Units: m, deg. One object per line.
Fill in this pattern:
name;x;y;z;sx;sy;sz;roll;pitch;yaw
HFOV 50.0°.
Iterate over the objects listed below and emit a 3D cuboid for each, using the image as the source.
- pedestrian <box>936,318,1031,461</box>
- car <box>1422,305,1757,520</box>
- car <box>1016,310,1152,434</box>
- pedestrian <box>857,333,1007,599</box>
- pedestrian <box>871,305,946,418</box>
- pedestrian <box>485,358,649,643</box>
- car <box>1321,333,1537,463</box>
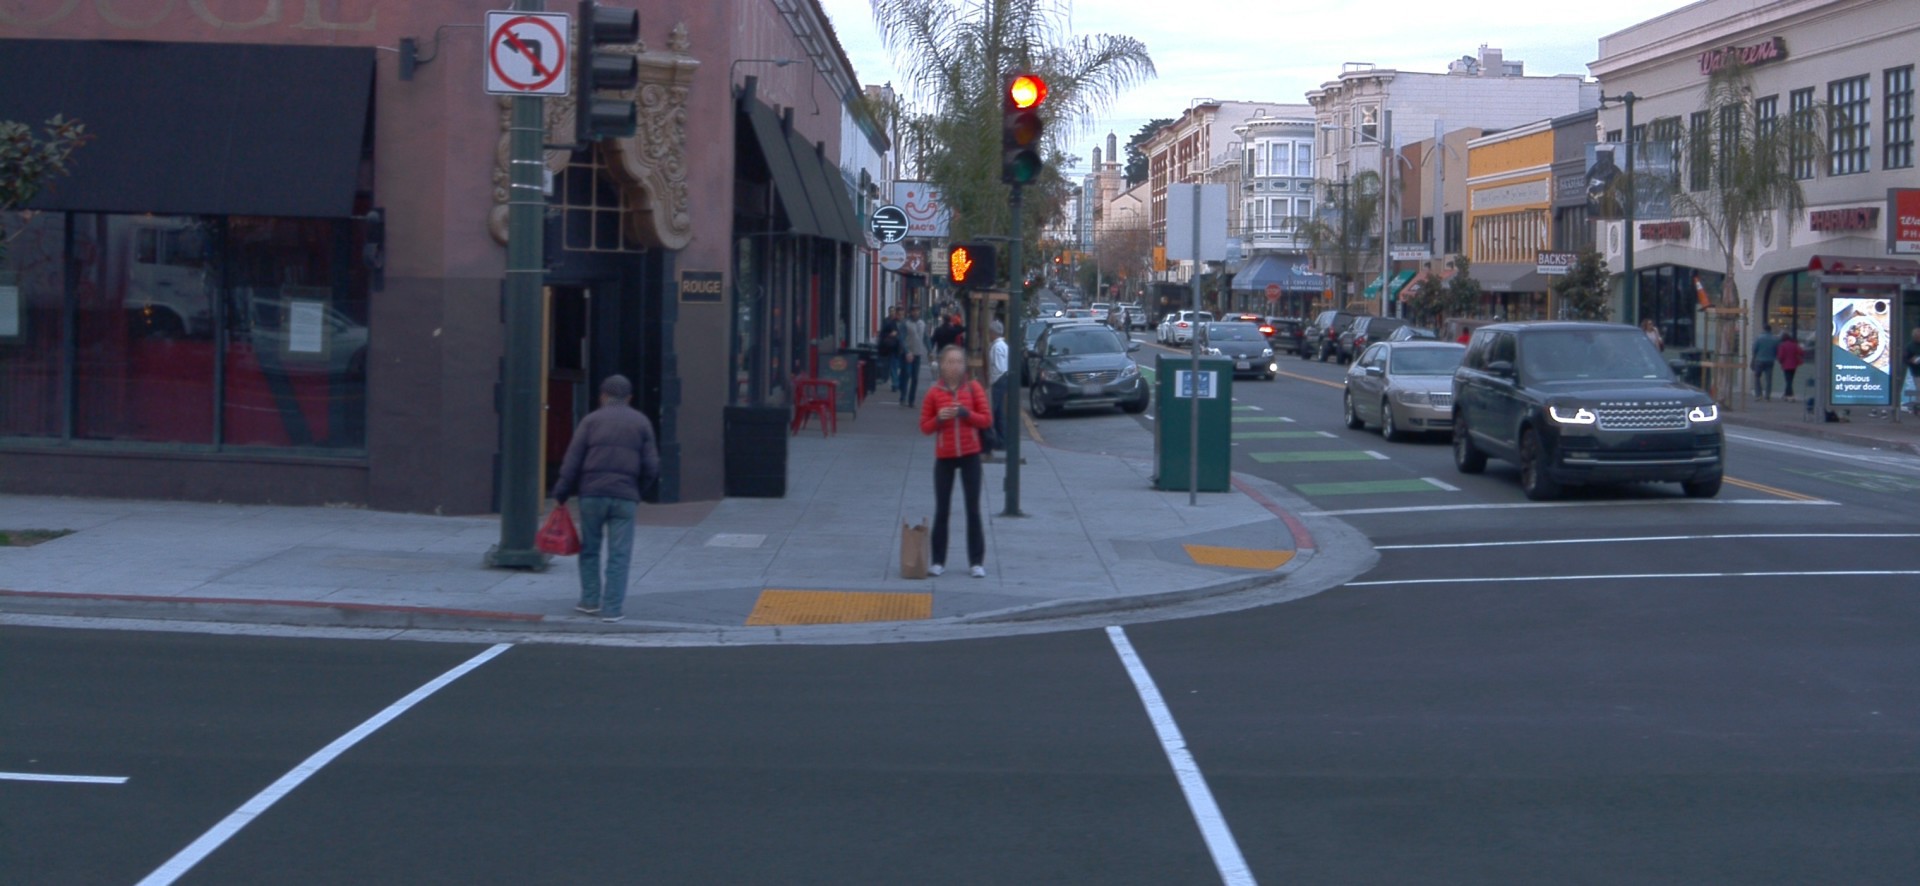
pedestrian;0.308;-0.709;26.523;0.881;1.726;1.029;1;3;25
car;6.845;-0.477;23.089;2.218;1.880;5.219;0;6;1
car;2.229;-1.399;38.287;2.175;1.910;4.798;0;6;-1
pedestrian;-0.224;0.141;15.403;1.068;1.874;0.867;0;2;-5
pedestrian;-0.908;-1.443;36.102;1.012;1.895;0.913;-1;3;-27
pedestrian;-2.483;0.334;13.104;0.853;1.676;0.921;0;3;1
car;6.829;-0.747;30.540;2.078;1.472;4.879;0;6;0
